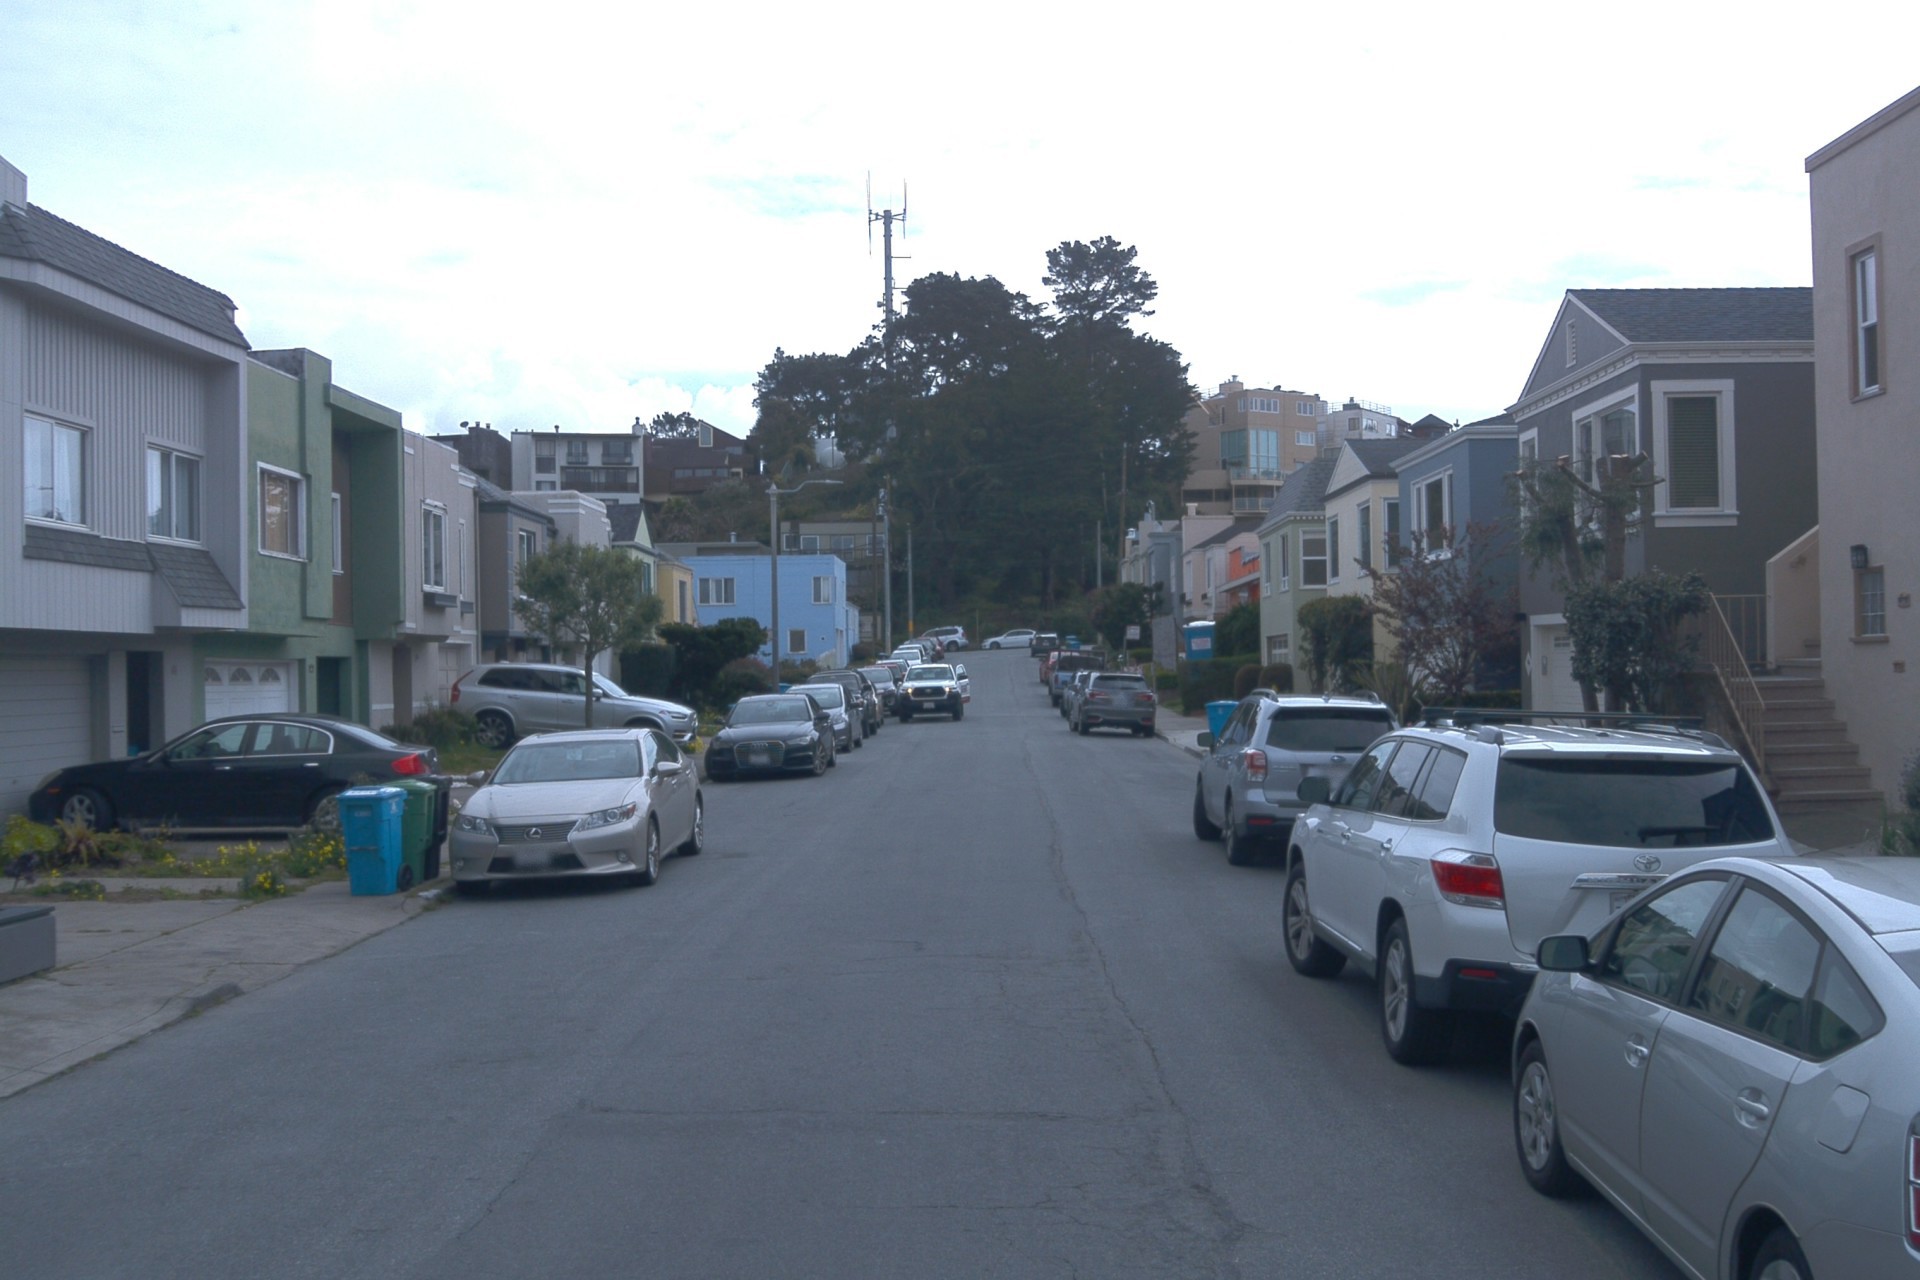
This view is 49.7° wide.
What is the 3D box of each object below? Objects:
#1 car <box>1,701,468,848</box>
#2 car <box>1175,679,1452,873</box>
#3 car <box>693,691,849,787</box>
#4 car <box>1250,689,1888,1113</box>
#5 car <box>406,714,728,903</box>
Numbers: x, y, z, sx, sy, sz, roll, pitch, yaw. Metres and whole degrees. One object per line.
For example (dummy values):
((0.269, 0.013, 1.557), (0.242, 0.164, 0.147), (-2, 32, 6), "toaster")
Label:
((-8.295, 1.522, 24.088), (4.783, 1.560, 2.035), (0, 0, -5), "car")
((3.524, 1.310, 21.607), (2.102, 1.730, 4.779), (0, 0, 0), "car")
((-3.284, 1.706, 36.969), (2.205, 1.490, 4.920), (0, 0, 2), "car")
((3.147, 1.258, 12.021), (2.206, 1.850, 5.028), (0, 0, 0), "car")
((-3.748, 1.570, 20.747), (2.130, 1.510, 5.019), (0, 0, 2), "car")
